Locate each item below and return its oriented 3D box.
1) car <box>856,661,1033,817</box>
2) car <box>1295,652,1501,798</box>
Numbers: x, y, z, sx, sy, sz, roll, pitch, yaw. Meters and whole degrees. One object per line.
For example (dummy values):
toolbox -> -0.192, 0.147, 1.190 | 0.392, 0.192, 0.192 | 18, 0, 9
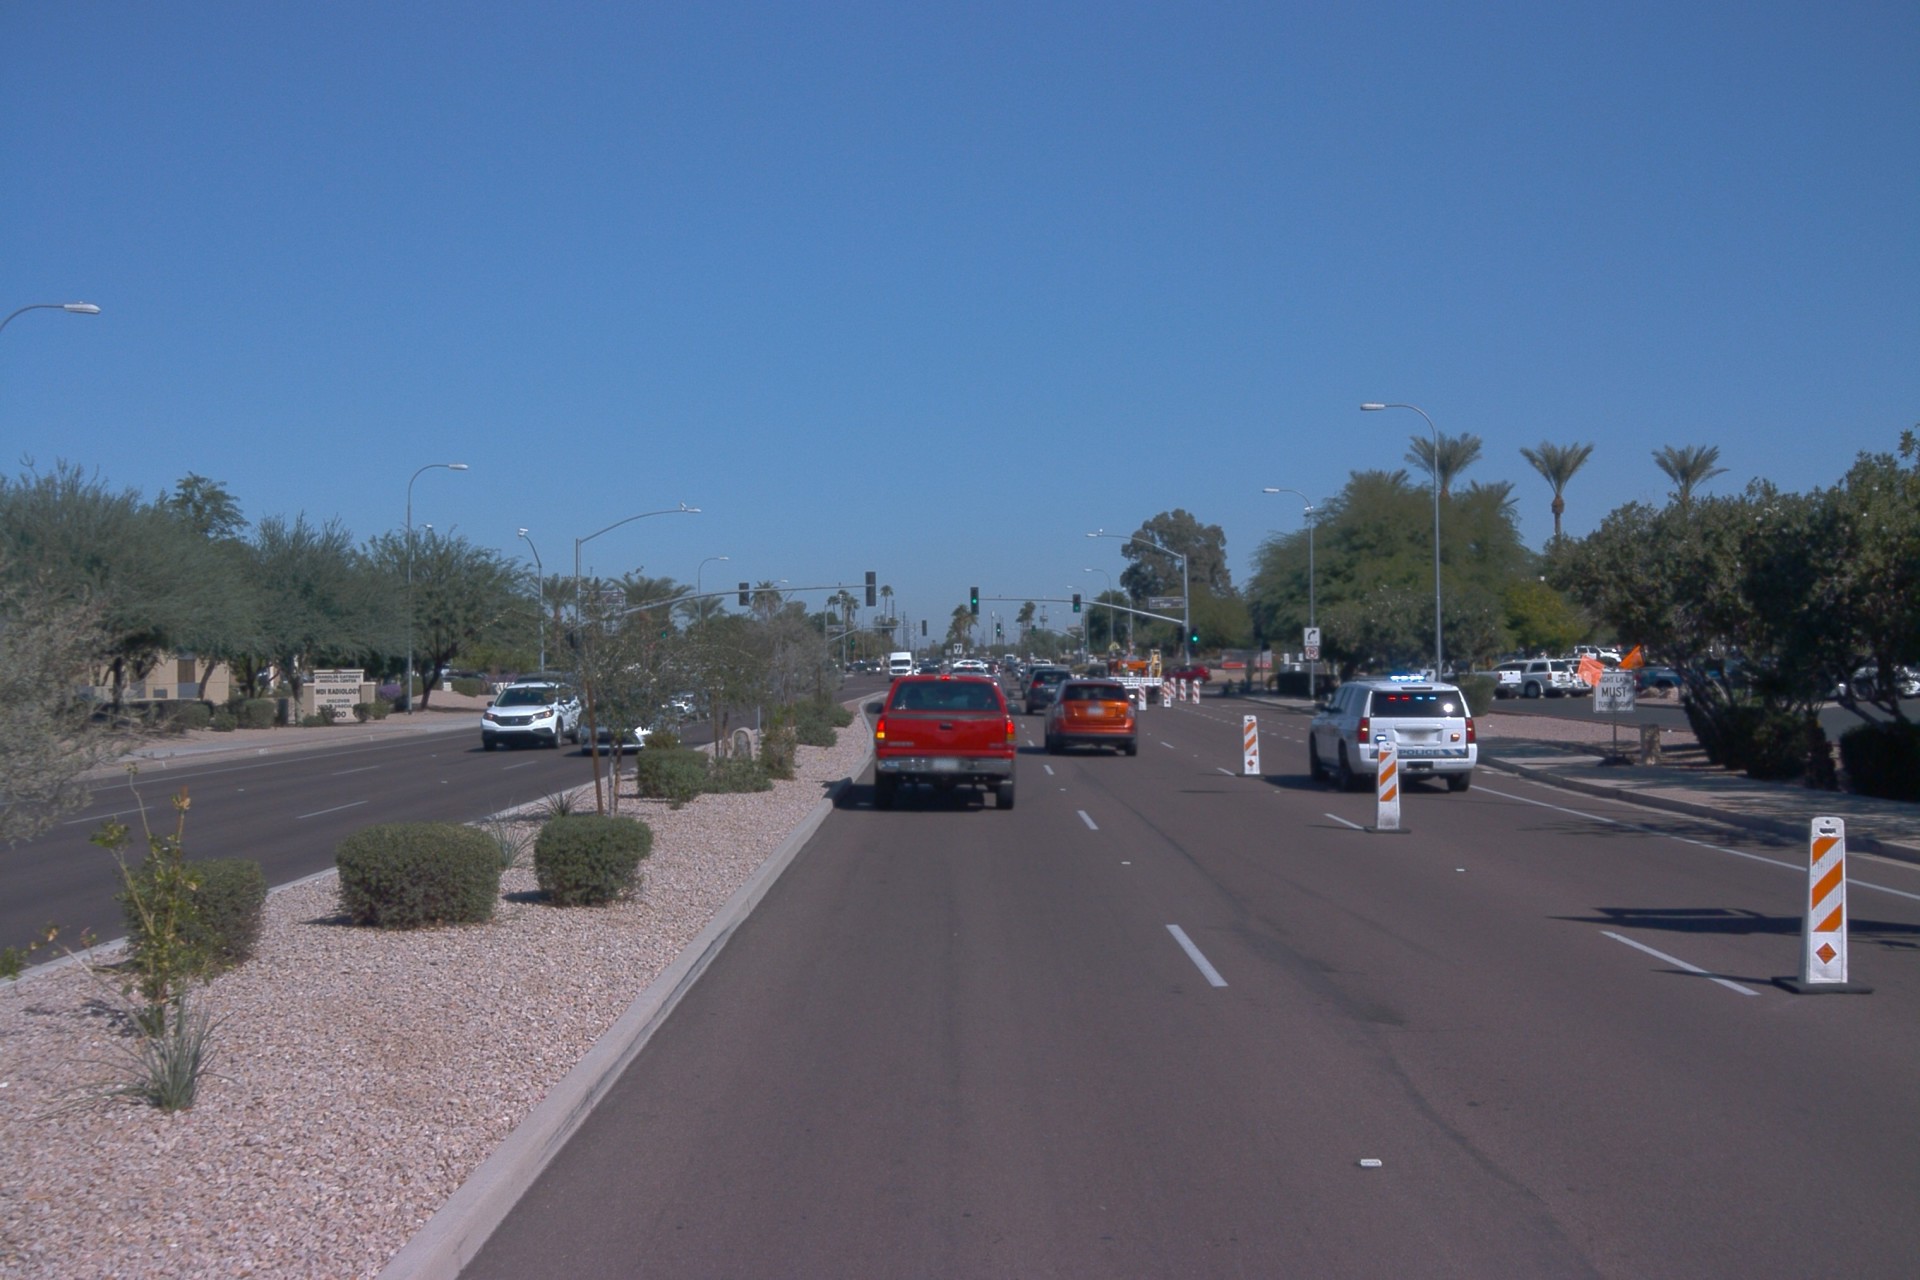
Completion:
car -> -0.237, 1.344, 30.332 | 2.340, 2.010, 5.847 | 0, 0, -1
car -> 7.267, 1.339, 34.955 | 2.367, 2.250, 5.385 | 0, 0, 1
